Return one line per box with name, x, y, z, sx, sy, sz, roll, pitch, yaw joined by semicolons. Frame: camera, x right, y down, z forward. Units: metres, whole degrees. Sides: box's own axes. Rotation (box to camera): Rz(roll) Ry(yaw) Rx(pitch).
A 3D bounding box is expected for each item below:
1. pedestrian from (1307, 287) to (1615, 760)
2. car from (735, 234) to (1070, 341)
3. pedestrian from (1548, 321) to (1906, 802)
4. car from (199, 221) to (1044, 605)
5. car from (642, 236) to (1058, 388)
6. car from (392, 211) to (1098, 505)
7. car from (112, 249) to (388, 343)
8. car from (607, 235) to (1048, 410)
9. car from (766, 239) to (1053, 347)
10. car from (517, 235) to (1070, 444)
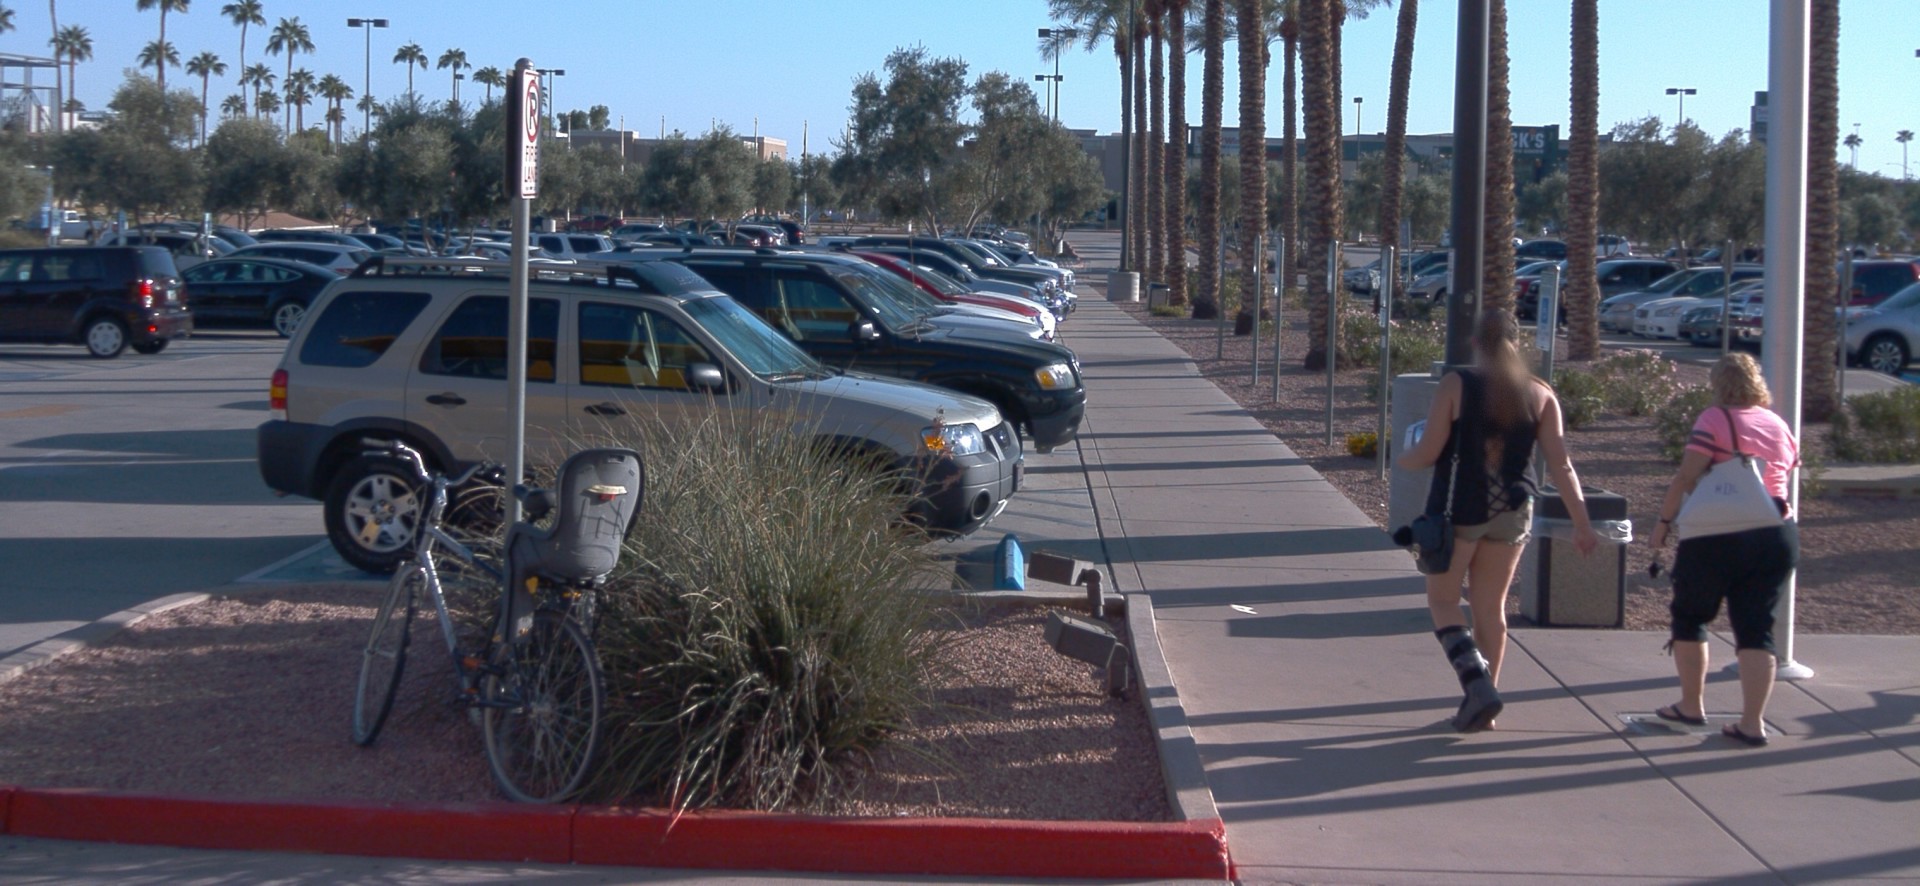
pedestrian;2.082;0.279;8.787;0.949;1.828;1.141;1;2;-4
car;-1.041;-2.963;39.053;6.083;1.845;2.452;1;4;0
pedestrian;3.138;0.430;8.588;1.001;1.808;1.002;1;2;-9
car;-1.901;-0.303;12.452;4.568;1.986;2.008;2;3;9
car;-1.309;-1.714;26.478;5.084;1.755;2.151;1;4;2
car;-1.599;-0.773;16.866;5.348;2.135;2.267;1;4;2
car;-12.405;-2.600;36.429;4.168;1.516;1.898;1;4;-1
car;-1.421;-1.419;23.676;4.762;1.805;2.090;1;4;3
car;-0.859;-2.641;36.212;4.853;1.736;1.871;1;4;0
car;-1.467;-1.061;19.906;4.915;1.765;2.429;1;4;5
